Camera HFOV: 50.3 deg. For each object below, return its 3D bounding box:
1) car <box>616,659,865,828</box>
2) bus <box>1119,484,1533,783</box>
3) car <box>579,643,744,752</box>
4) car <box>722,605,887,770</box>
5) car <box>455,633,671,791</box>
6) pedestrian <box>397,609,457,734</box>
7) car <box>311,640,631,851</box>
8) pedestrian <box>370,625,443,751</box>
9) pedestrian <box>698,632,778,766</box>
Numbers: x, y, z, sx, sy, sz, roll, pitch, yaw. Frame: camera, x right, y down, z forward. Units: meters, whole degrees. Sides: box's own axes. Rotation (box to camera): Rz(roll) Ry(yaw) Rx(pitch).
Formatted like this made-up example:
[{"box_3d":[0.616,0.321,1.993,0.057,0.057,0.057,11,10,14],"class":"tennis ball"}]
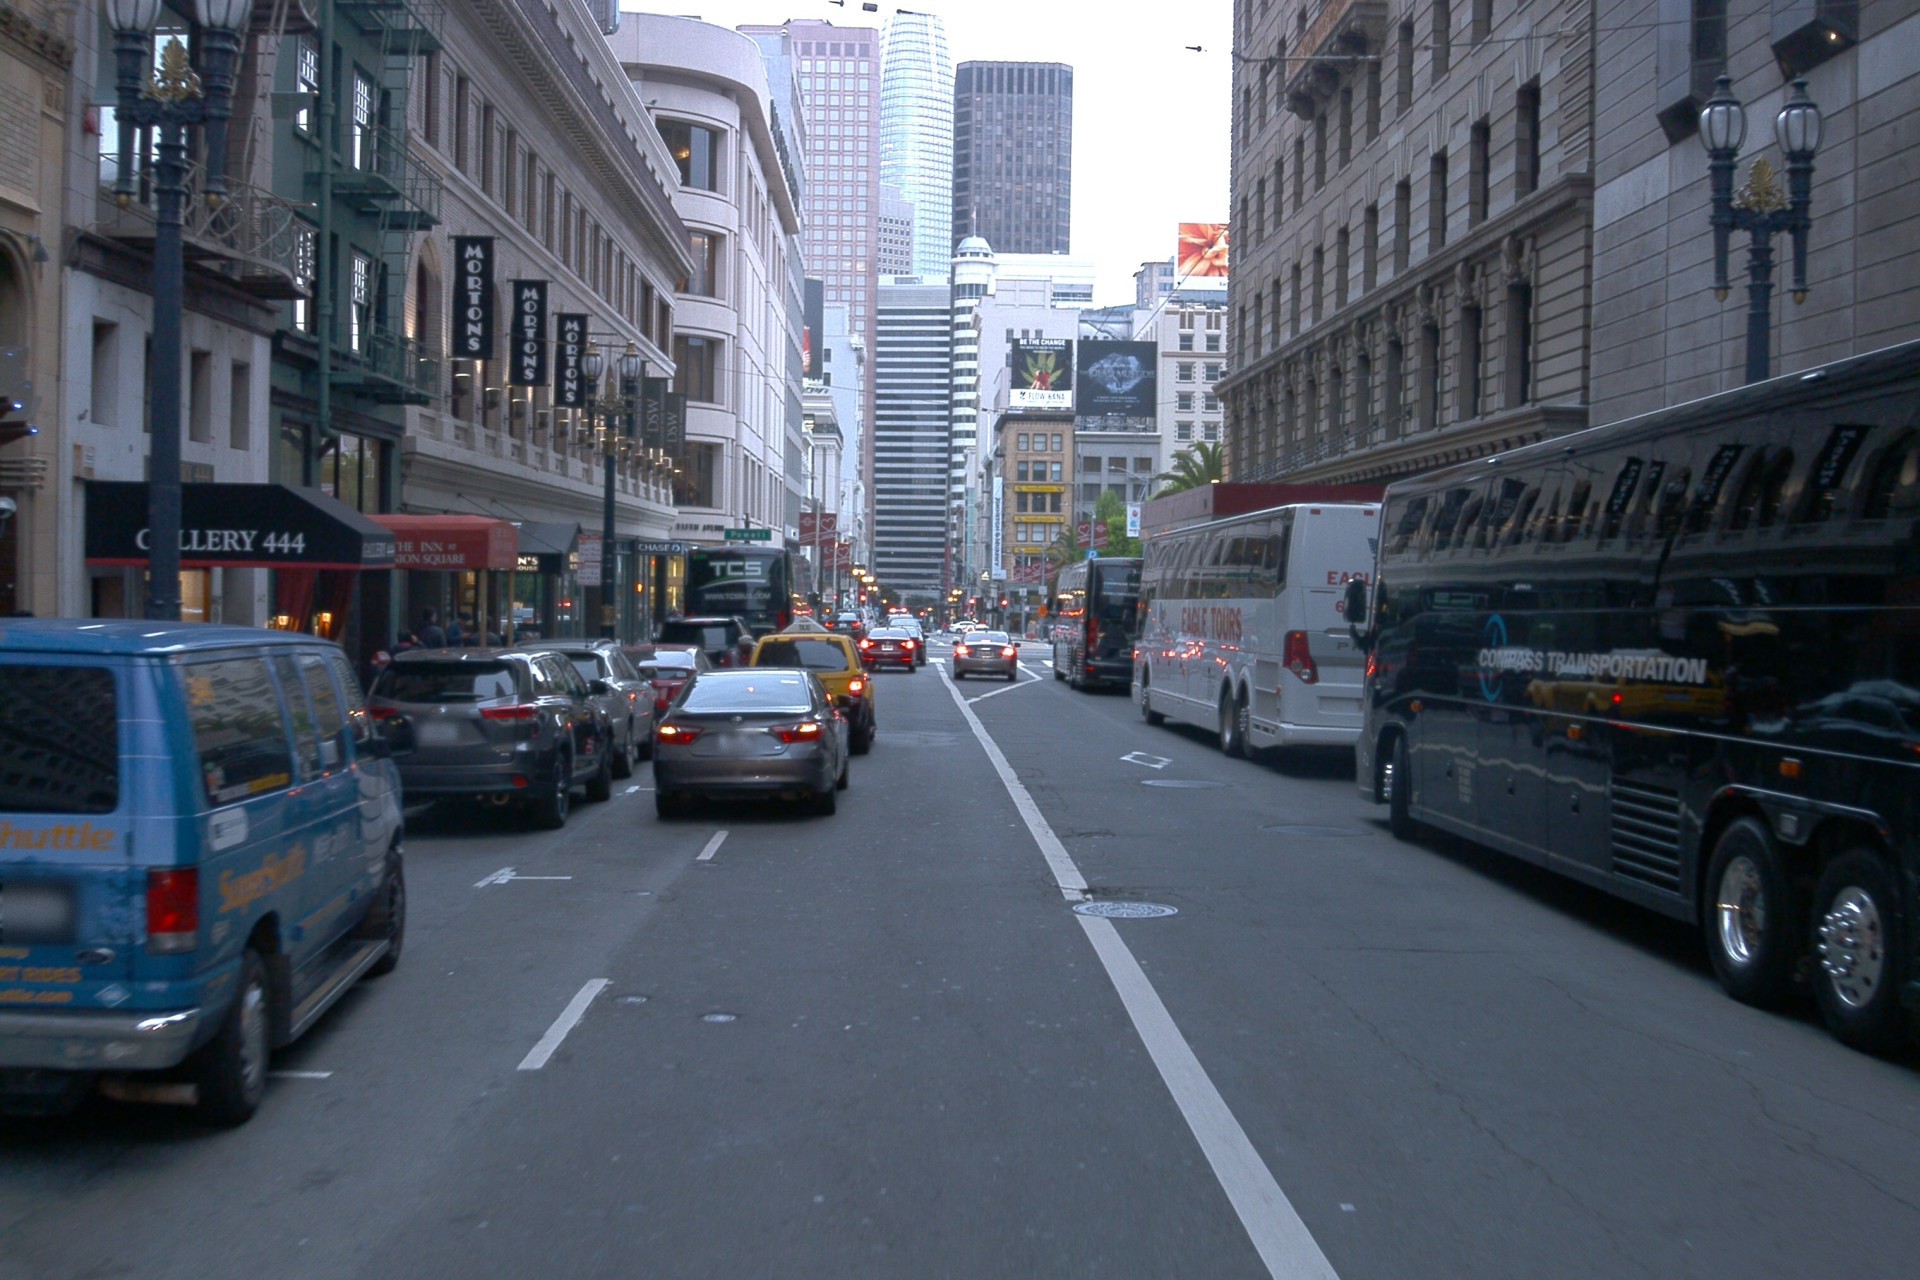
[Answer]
[{"box_3d":[-2.201,1.007,21.891,2.149,1.510,4.905,0,1,0],"class":"car"},{"box_3d":[5.188,-0.152,32.936,3.307,3.770,14.117,0,1,-4],"class":"bus"},{"box_3d":[-4.681,0.856,32.701,2.096,1.570,4.513,0,1,-2],"class":"car"},{"box_3d":[-2.138,0.603,29.462,2.089,2.172,4.974,0,1,-1],"class":"car"},{"box_3d":[-4.929,0.825,26.044,2.092,1.810,4.552,0,1,-3],"class":"car"},{"box_3d":[-8.553,0.497,32.838,0.794,1.980,0.883,0,1,-5],"class":"pedestrian"},{"box_3d":[-4.747,0.944,20.682,2.182,1.830,4.884,0,1,-1],"class":"car"},{"box_3d":[-7.573,0.642,28.020,0.802,1.690,0.869,0,1,-3],"class":"pedestrian"},{"box_3d":[-2.968,0.778,27.418,0.859,1.760,0.909,0,1,10],"class":"pedestrian"}]
